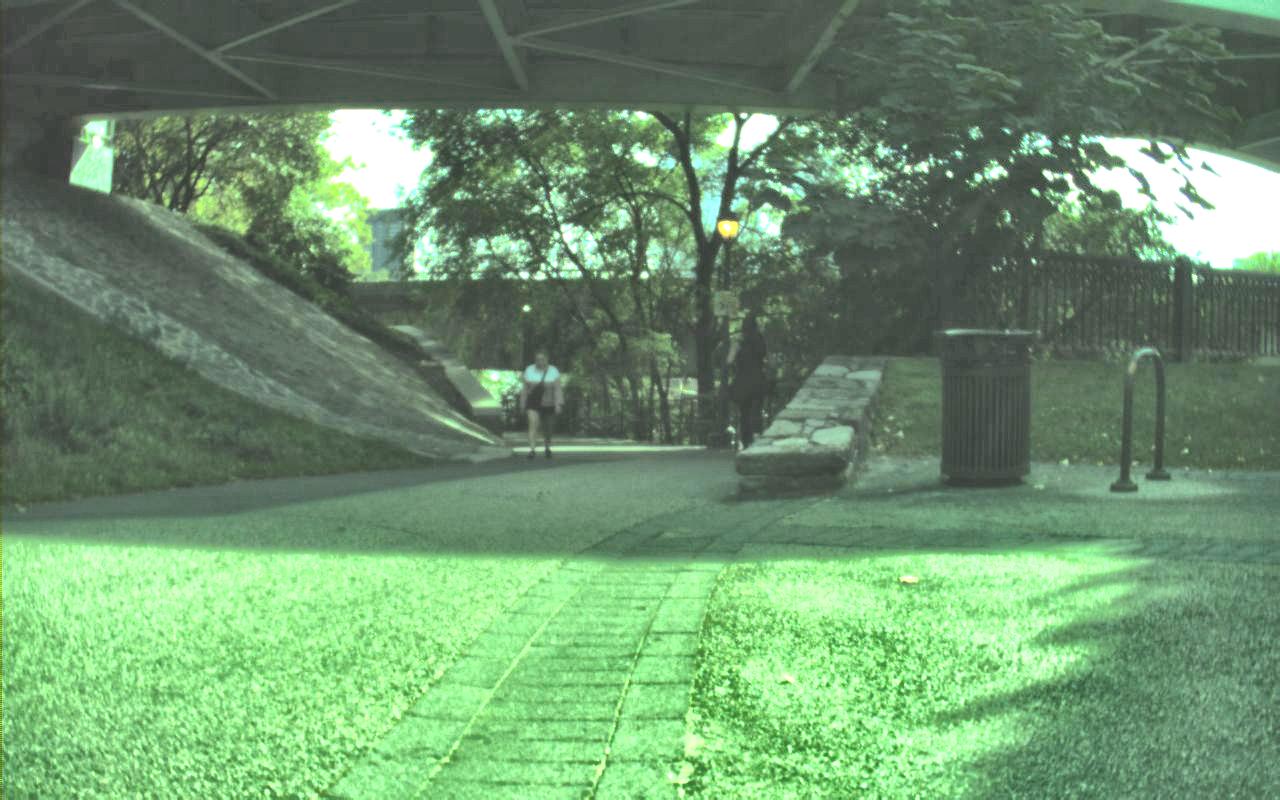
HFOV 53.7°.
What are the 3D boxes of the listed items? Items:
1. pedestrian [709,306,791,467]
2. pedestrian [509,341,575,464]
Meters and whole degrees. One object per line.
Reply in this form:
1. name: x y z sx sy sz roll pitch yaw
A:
1. pedestrian: 1.228 -0.157 14.038 0.872 1.733 0.952 0 0 5
2. pedestrian: -1.325 0.027 17.206 0.868 1.637 0.905 0 0 -3
